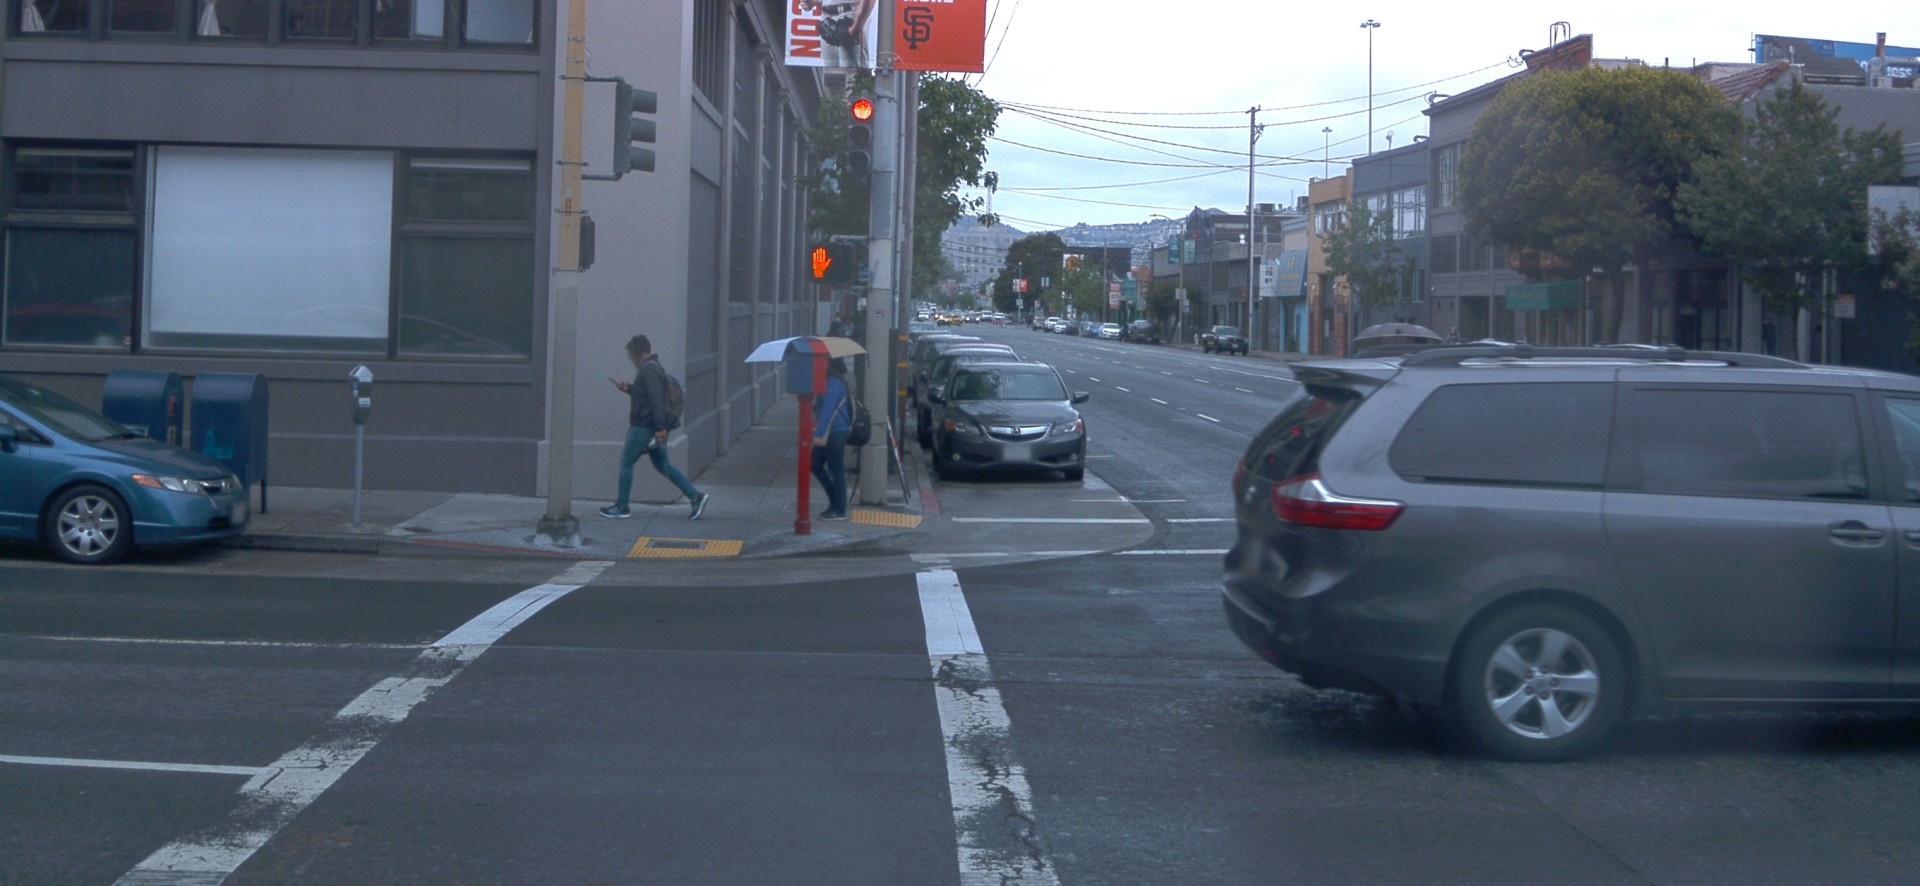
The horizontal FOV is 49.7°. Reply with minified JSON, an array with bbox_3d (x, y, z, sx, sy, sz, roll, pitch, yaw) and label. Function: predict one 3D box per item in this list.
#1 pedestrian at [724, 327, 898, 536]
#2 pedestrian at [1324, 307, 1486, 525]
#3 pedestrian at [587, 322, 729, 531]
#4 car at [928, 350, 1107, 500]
[{"bbox_3d":[-1.414,-0.145,19.569,1.572,1.829,1.364,0,2,-5],"label":"pedestrian"},{"bbox_3d":[4.469,-0.305,20.934,1.284,2.082,1.185,0,2,-7],"label":"pedestrian"},{"bbox_3d":[-2.760,-0.181,19.070,1.131,1.819,1.033,0,1,1],"label":"pedestrian"},{"bbox_3d":[0.627,-0.310,26.065,2.020,1.454,4.437,0,5,-1],"label":"car"}]
